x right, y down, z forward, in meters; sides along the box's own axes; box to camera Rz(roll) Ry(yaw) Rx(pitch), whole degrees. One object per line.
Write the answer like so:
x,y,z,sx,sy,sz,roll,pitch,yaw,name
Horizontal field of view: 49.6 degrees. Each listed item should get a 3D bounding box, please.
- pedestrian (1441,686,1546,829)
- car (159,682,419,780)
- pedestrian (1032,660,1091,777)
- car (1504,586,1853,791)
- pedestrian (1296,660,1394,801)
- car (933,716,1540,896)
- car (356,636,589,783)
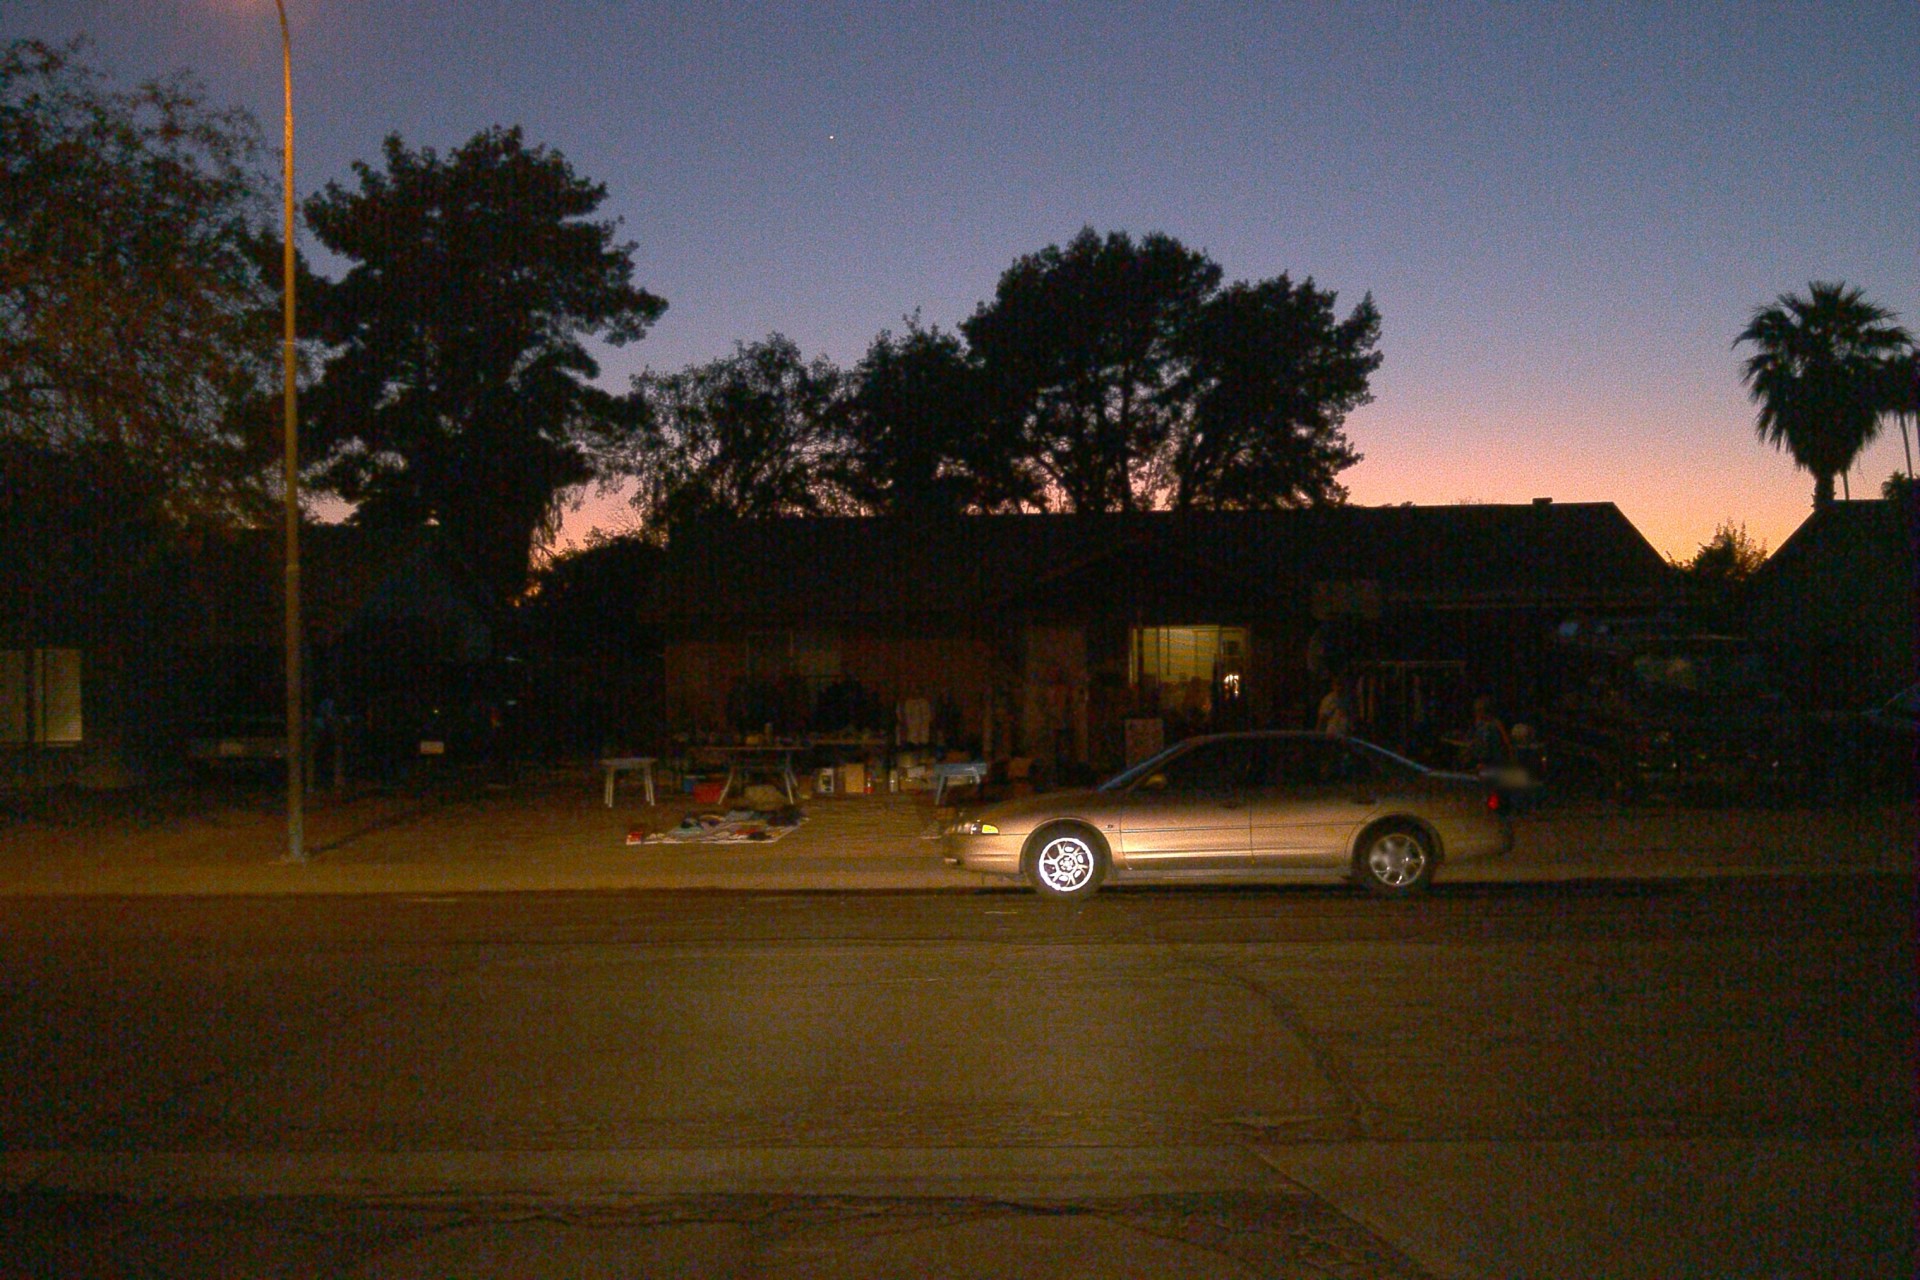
5.872,1.282,22.927,0.833,1.540,0.879,0,-1,-11,pedestrian
-10.208,1.350,32.012,2.219,1.390,4.281,0,-1,7,car
1.446,1.105,29.558,0.813,1.640,0.647,0,-1,4,pedestrian
8.813,0.600,26.174,2.592,2.310,5.420,0,-1,1,car
4.712,1.091,25.476,0.831,1.690,0.835,1,-1,-39,pedestrian
2.341,1.428,18.527,5.057,1.450,2.236,0,-1,2,car
-7.376,1.034,32.176,2.351,2.050,5.999,0,-1,-2,car
